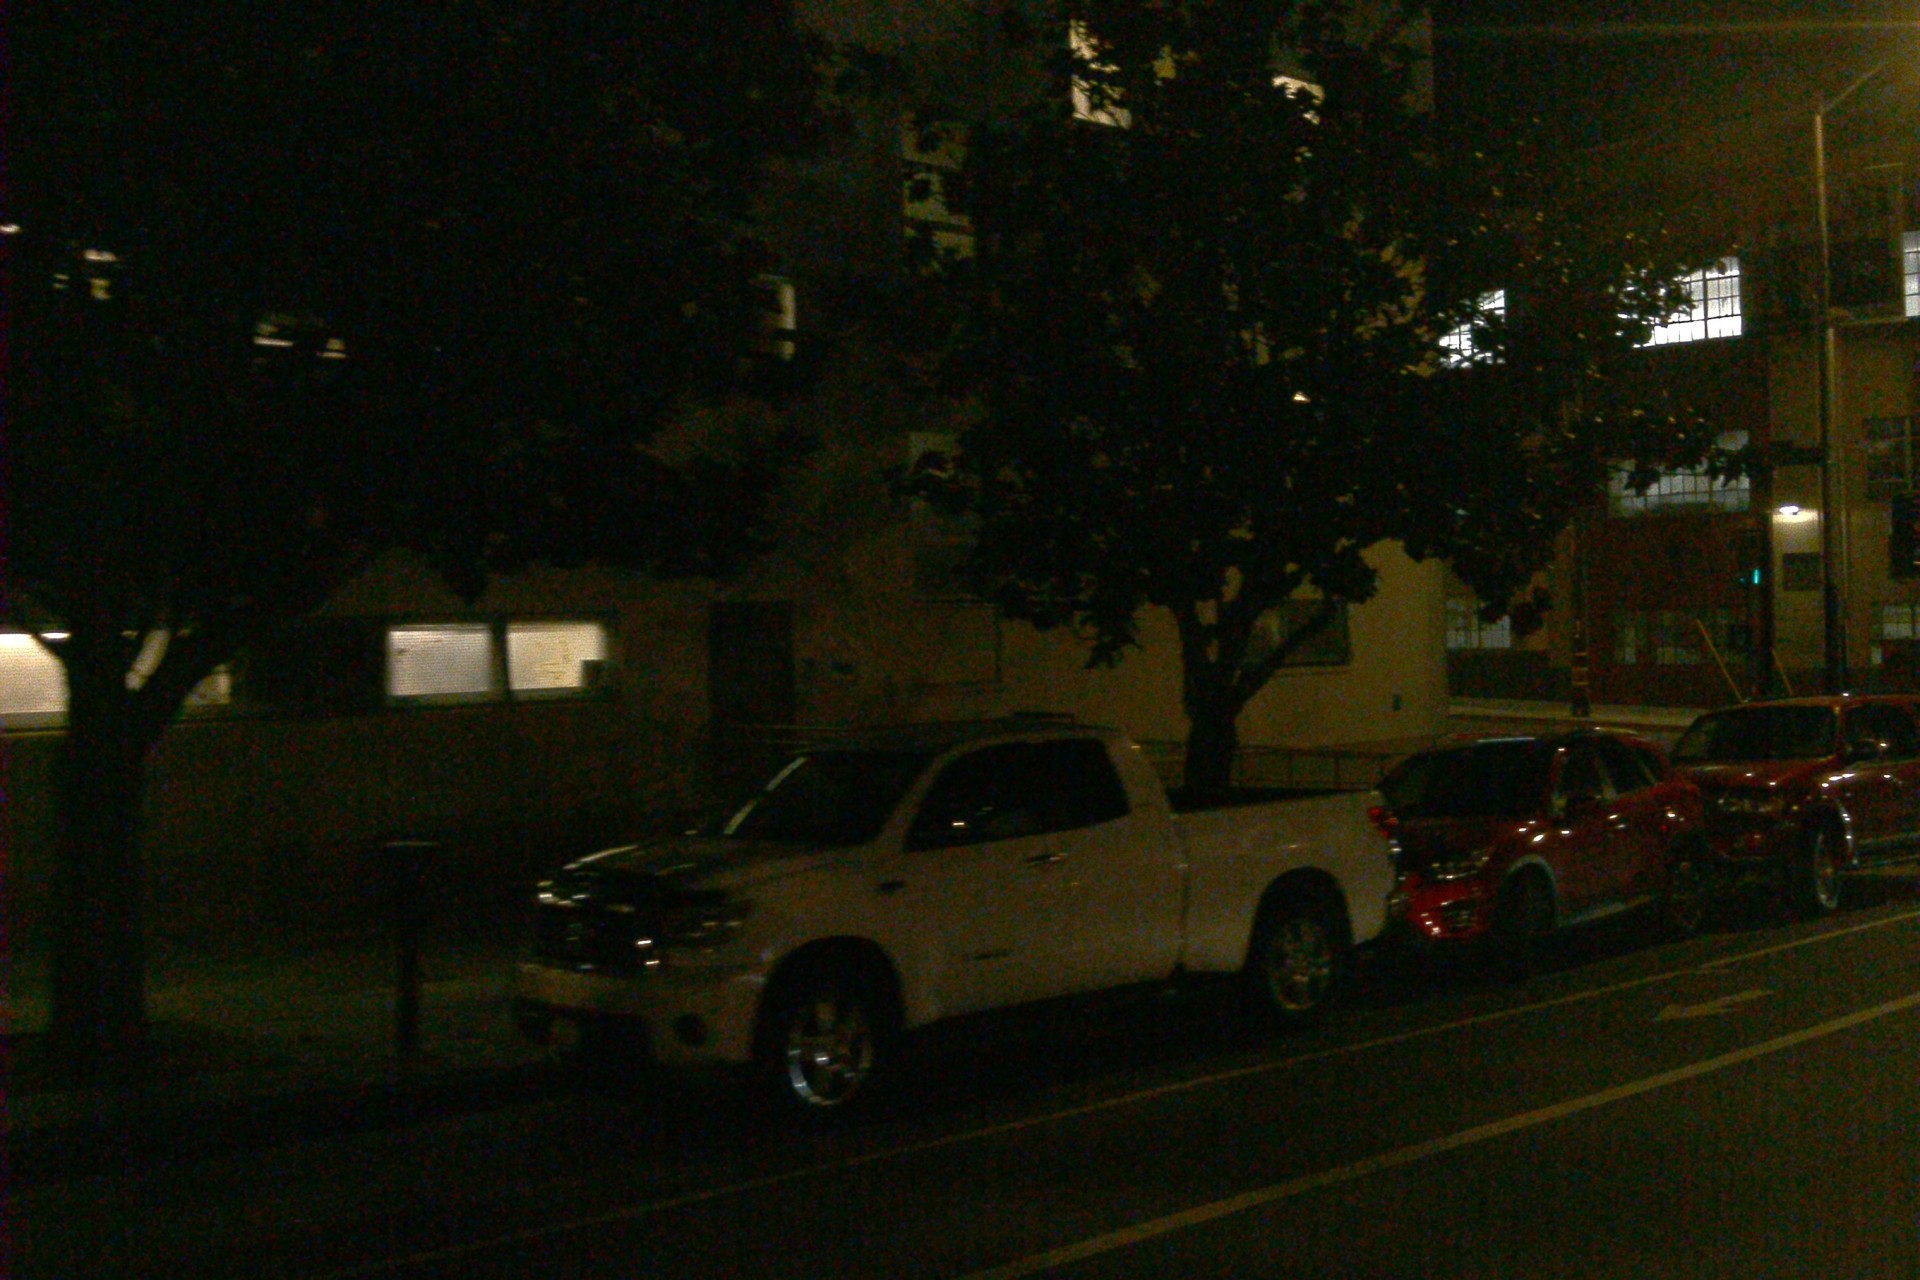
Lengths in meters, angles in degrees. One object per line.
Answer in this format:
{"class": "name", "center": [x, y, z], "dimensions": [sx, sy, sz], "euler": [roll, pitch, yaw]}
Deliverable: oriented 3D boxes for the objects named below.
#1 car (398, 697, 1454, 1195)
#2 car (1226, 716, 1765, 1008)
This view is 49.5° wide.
{"class": "car", "center": [0.101, 1.428, 12.160], "dimensions": [6.060, 2.070, 2.488], "euler": [1, 0, -43]}
{"class": "car", "center": [4.249, 1.541, 16.023], "dimensions": [1.977, 1.770, 4.649], "euler": [0, 0, 44]}
